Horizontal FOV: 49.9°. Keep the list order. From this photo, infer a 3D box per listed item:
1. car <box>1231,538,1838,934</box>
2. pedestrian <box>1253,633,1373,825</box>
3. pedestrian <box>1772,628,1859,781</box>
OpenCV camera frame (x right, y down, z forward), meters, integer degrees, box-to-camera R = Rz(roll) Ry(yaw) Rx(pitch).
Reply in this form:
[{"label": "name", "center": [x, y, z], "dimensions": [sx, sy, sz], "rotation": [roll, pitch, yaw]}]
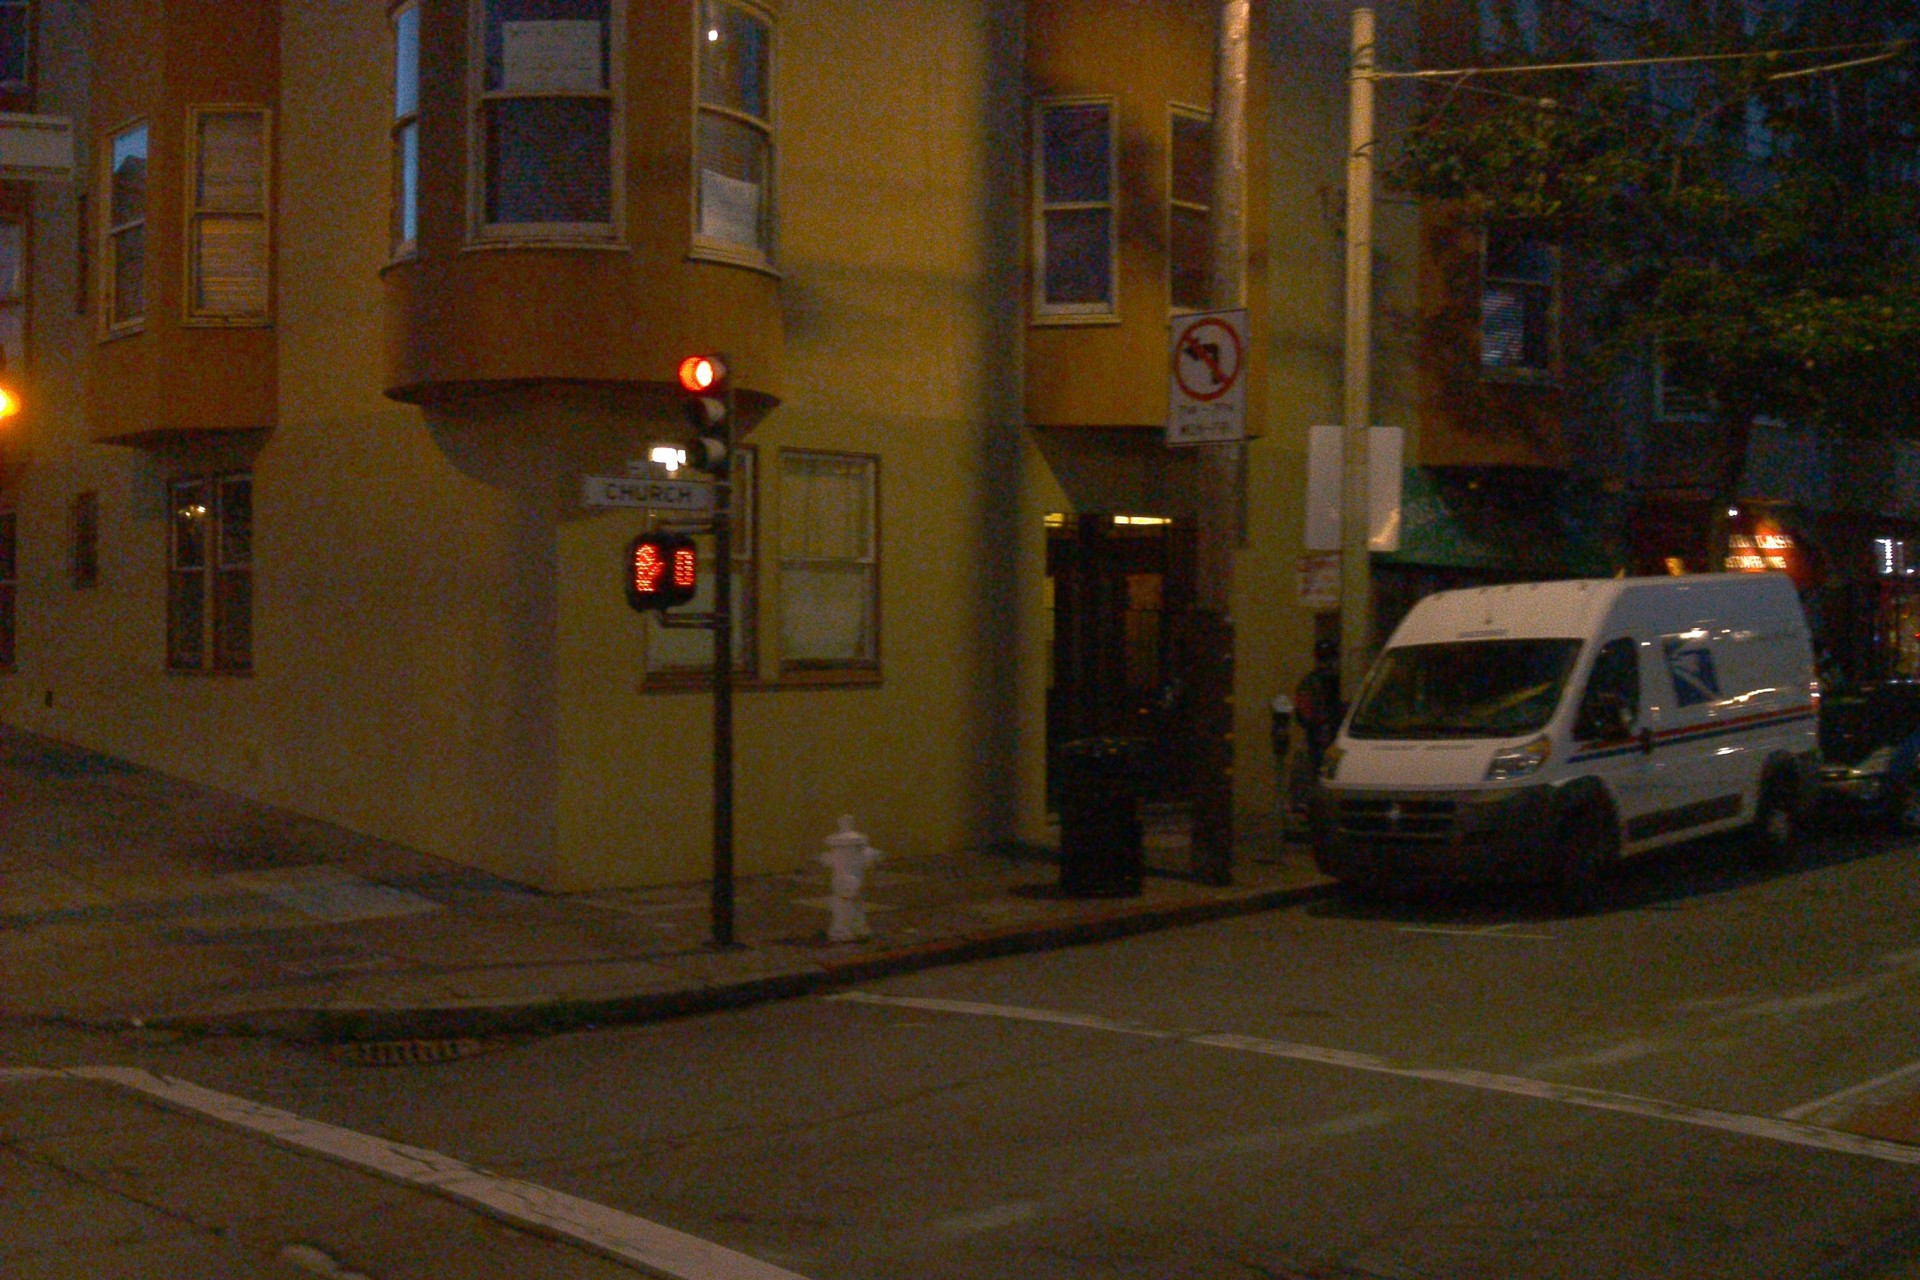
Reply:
[{"label": "car", "center": [4.908, 0.634, 17.083], "dimensions": [2.515, 2.730, 5.482], "rotation": [1, 1, 44]}, {"label": "pedestrian", "center": [3.540, 0.866, 20.715], "dimensions": [0.862, 1.870, 0.832], "rotation": [-1, 1, -43]}, {"label": "pedestrian", "center": [10.746, 0.787, 25.943], "dimensions": [0.727, 1.870, 0.895], "rotation": [1, 1, 43]}]
